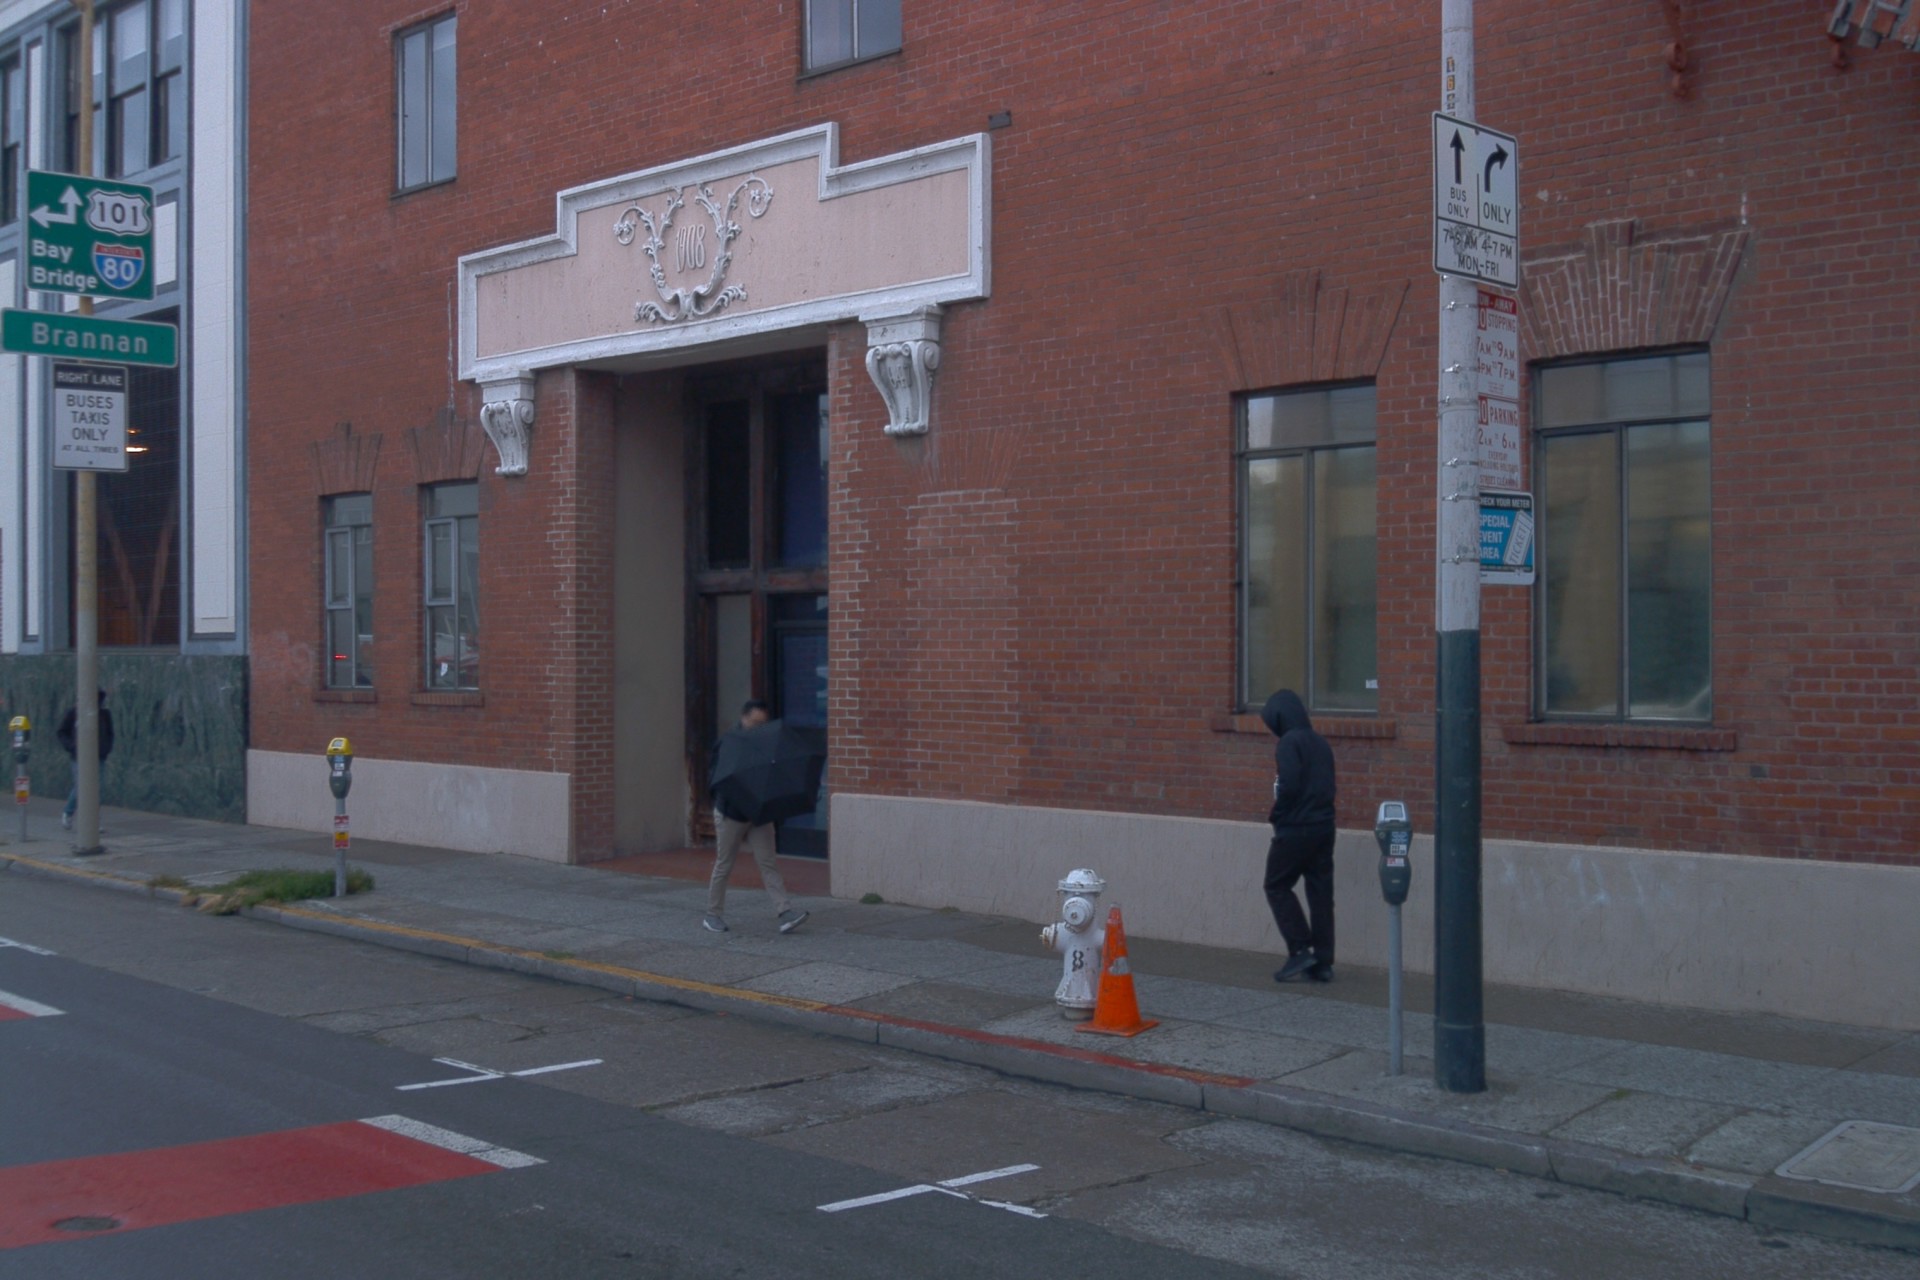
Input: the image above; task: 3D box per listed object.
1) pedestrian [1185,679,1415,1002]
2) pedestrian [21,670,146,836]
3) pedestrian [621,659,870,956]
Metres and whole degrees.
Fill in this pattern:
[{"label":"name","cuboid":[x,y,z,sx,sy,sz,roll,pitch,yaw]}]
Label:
[{"label":"pedestrian","cuboid":[2.075,1.173,12.657,0.798,1.848,1.126,1,-1,-44]},{"label":"pedestrian","cuboid":[-9.591,1.213,22.655,1.042,1.750,0.893,0,-1,43]},{"label":"pedestrian","cuboid":[-1.538,1.129,14.711,1.005,1.970,1.540,1,-1,-44]}]
